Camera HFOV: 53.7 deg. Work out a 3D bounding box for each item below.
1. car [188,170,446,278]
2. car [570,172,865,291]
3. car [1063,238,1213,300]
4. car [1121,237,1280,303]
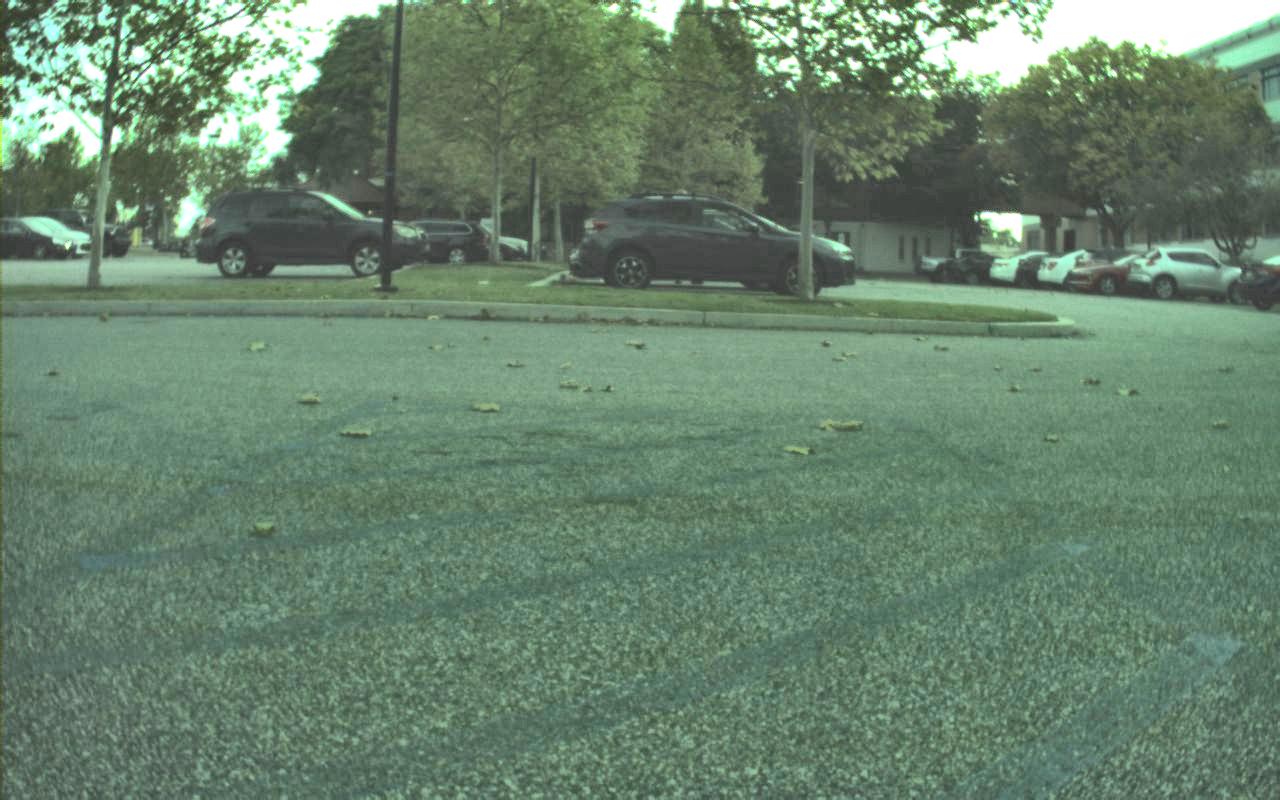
[{"bbox_3d":[-6.136,-3.275,23.210,4.650,1.775,2.004,0,1,0],"label":"car"},{"bbox_3d":[1.189,-2.674,20.285,4.572,1.664,1.960,0,1,-3],"label":"car"},{"bbox_3d":[15.270,-3.916,36.216,4.493,1.629,1.964,1,1,4],"label":"car"},{"bbox_3d":[16.242,-3.655,33.537,4.539,1.658,1.969,1,1,3],"label":"car"}]
